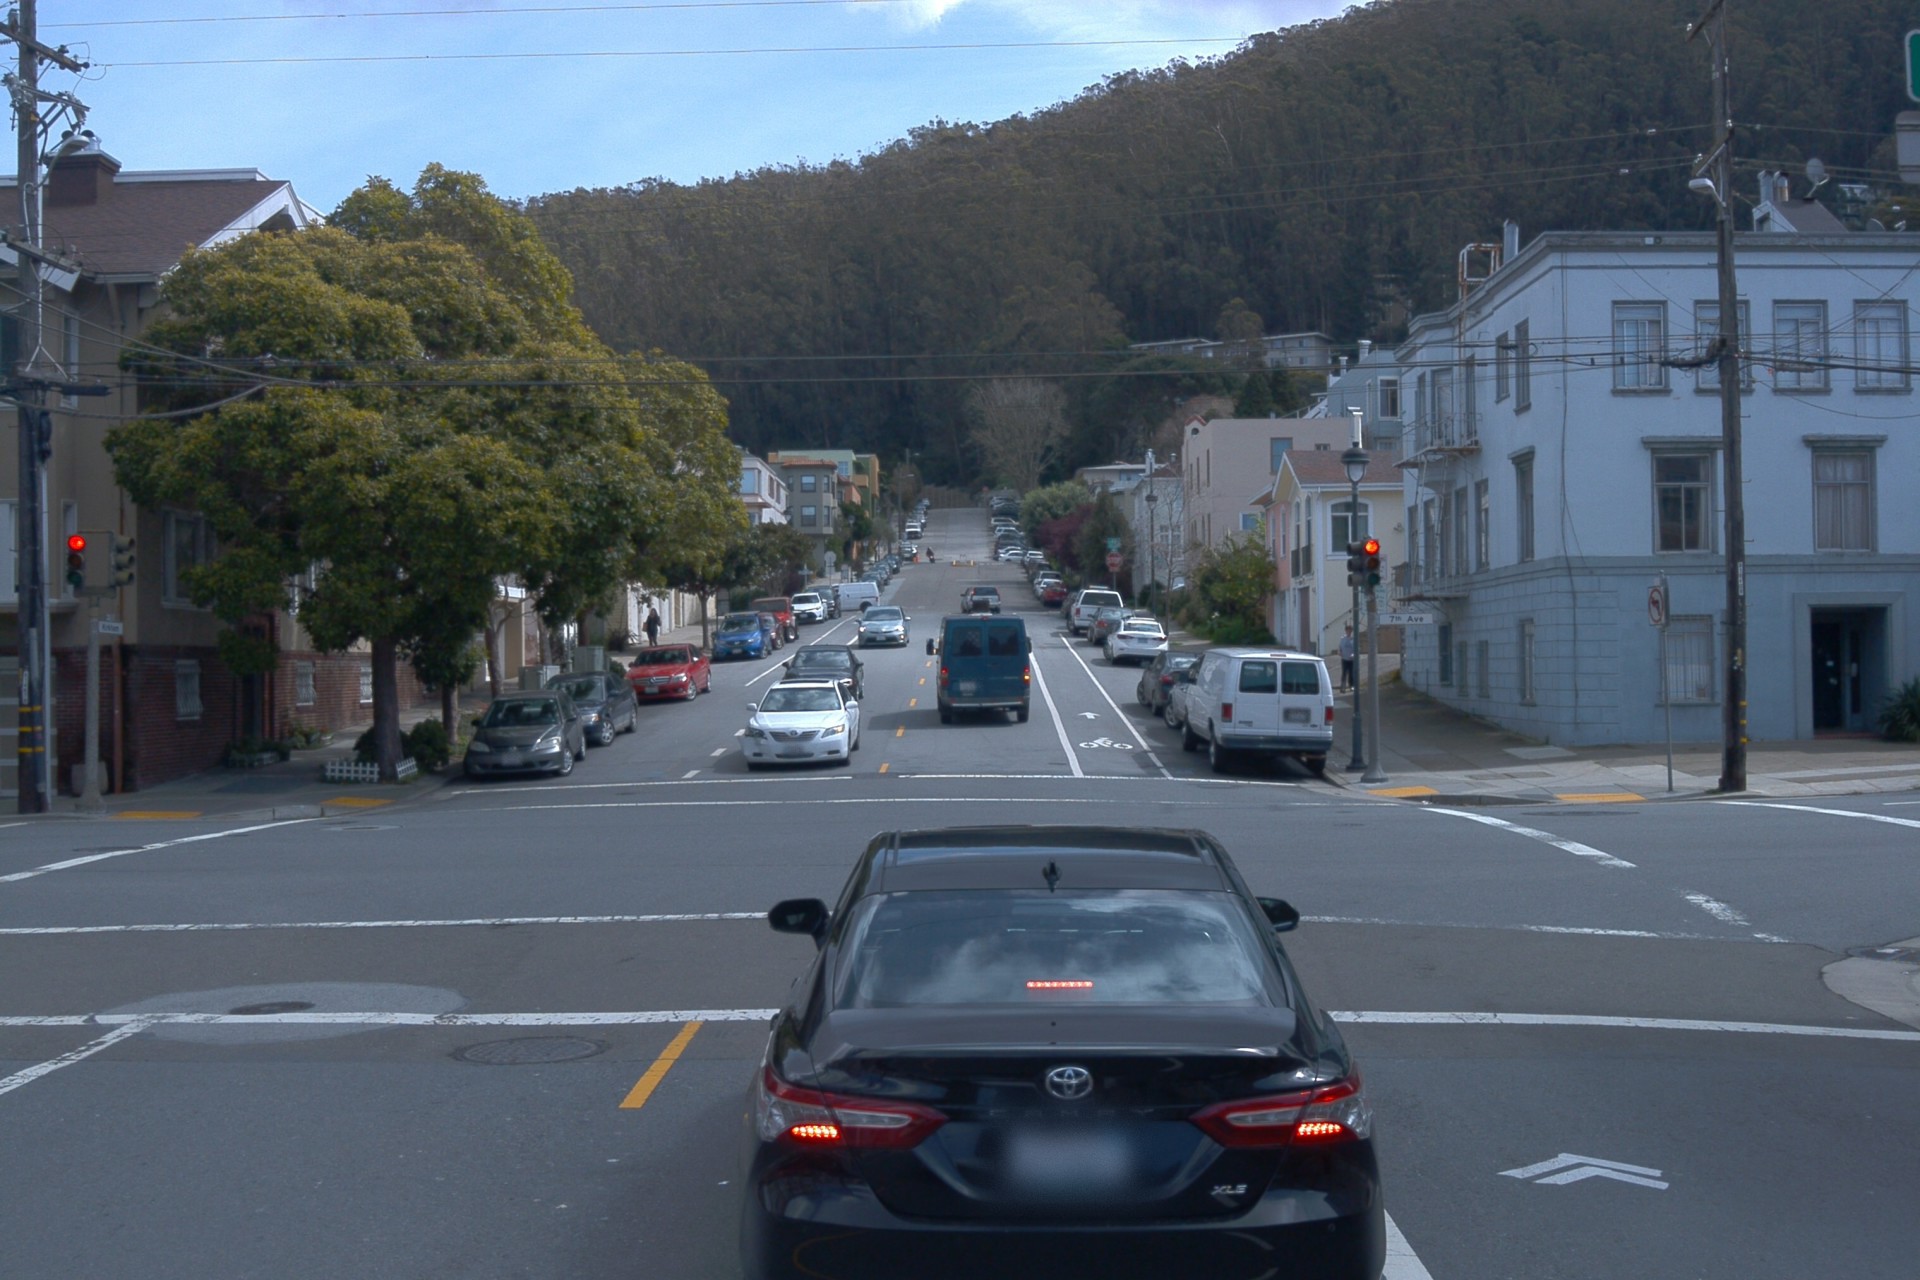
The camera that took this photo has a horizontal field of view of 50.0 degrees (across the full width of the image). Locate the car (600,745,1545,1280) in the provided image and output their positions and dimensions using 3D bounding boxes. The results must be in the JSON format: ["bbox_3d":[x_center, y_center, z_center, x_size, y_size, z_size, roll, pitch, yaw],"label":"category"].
[{"bbox_3d":[0.282,1.306,7.305,2.249,1.620,4.798,0,0,0],"label":"car"}]

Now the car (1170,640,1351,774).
[{"bbox_3d":[5.316,1.120,37.216,2.299,2.250,5.313,0,0,-2],"label":"car"}]

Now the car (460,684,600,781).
[{"bbox_3d":[-7.707,1.623,37.253,1.836,1.560,4.133,0,0,-3],"label":"car"}]

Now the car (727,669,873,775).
[{"bbox_3d":[-2.840,1.440,37.647,2.209,1.750,4.541,0,0,1],"label":"car"}]
